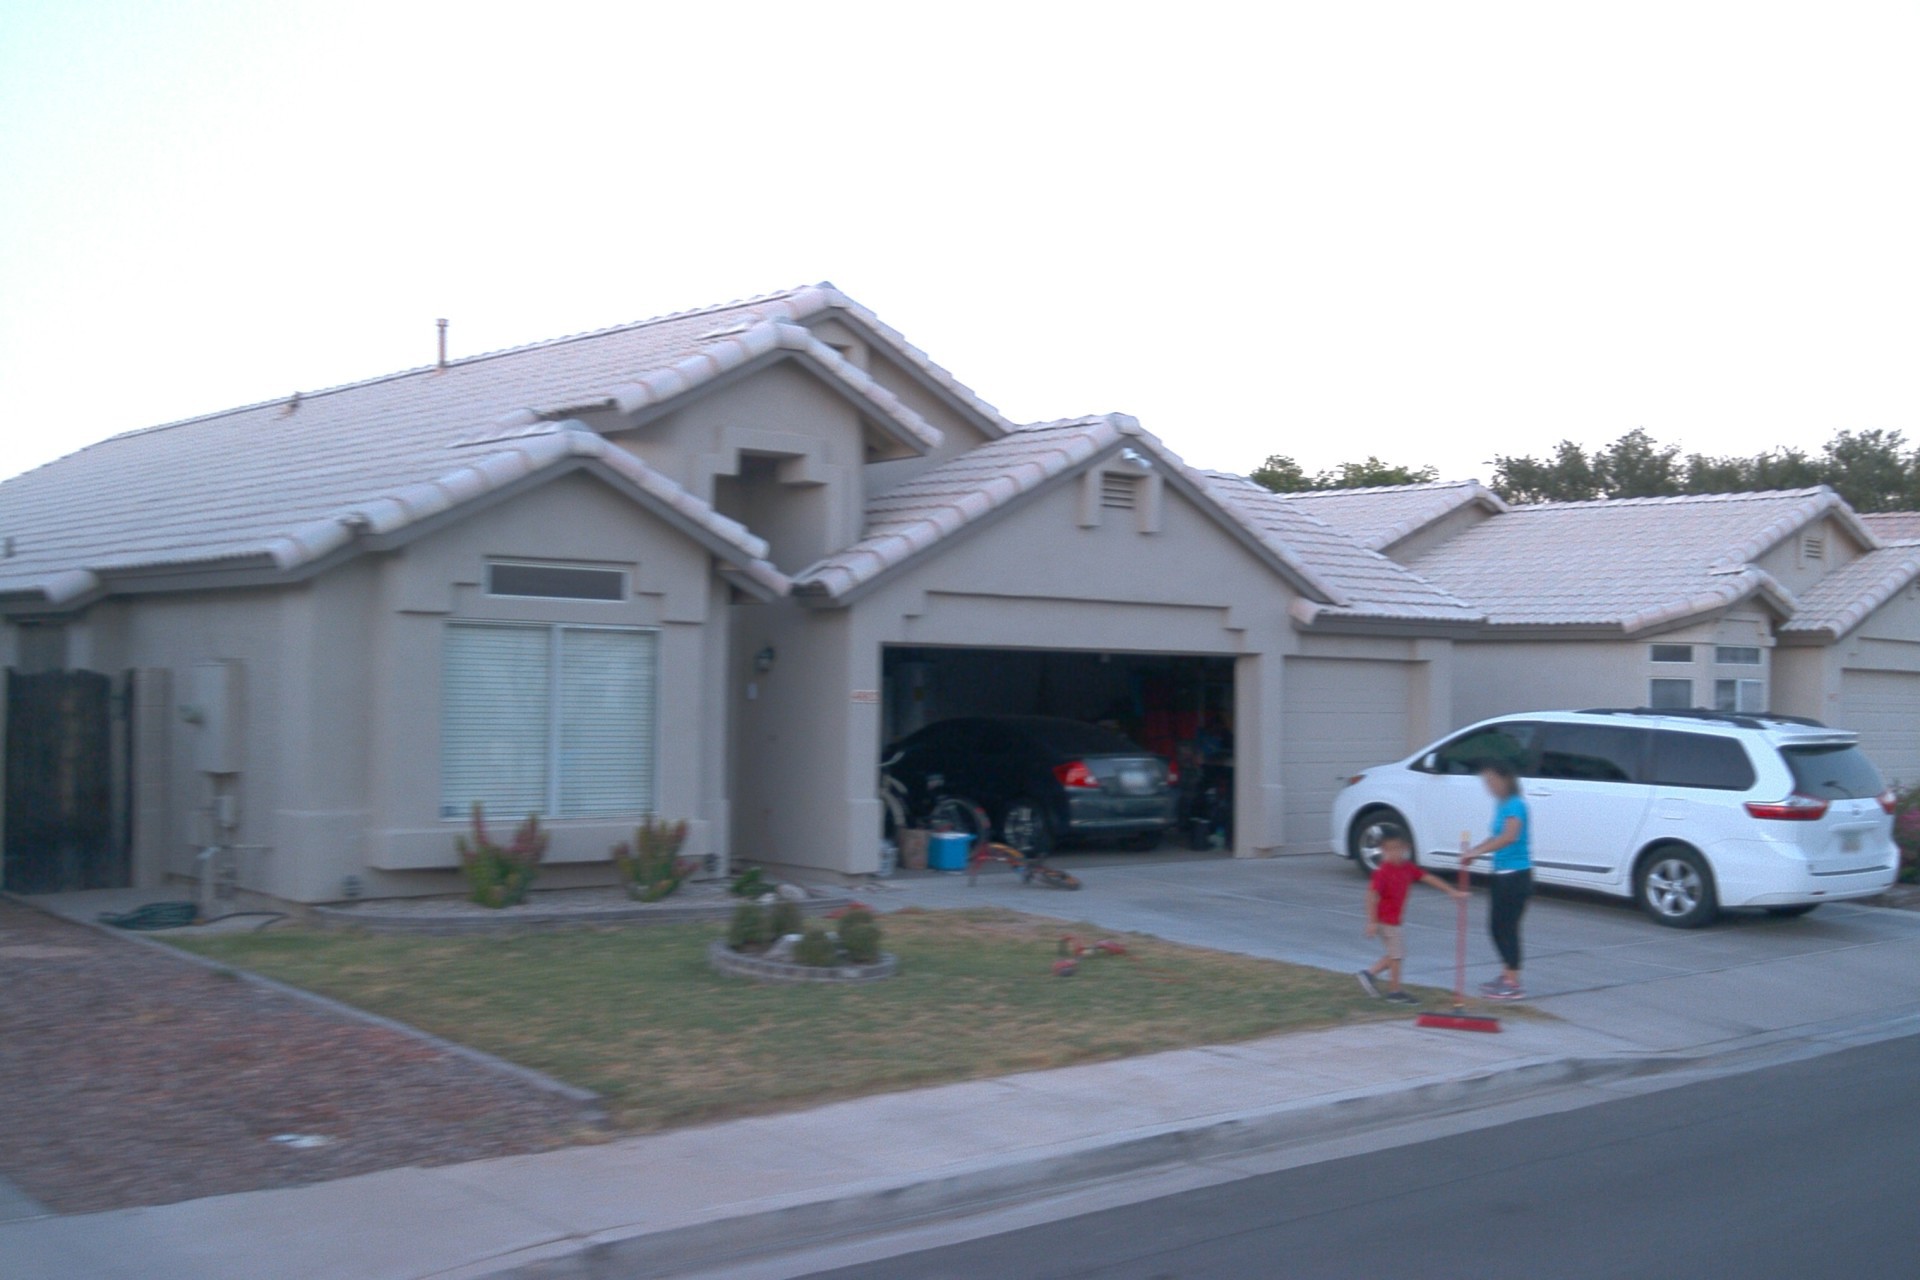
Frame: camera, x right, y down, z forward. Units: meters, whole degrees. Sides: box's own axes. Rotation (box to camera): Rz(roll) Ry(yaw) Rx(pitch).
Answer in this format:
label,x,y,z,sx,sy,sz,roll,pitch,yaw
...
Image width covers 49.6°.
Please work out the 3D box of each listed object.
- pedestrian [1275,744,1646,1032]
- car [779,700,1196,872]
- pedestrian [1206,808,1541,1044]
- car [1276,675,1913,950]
label,x,y,z,sx,sy,sz,roll,pitch,yaw
pedestrian,3.138,1.486,13.104,1.527,1.570,1.666,1,-1,-36
car,0.184,1.463,22.238,1.901,1.520,4.546,1,-1,-41
pedestrian,2.531,1.716,12.849,1.534,1.240,1.356,1,-1,-21
car,5.558,1.391,18.780,2.373,2.040,5.014,1,-1,-39
